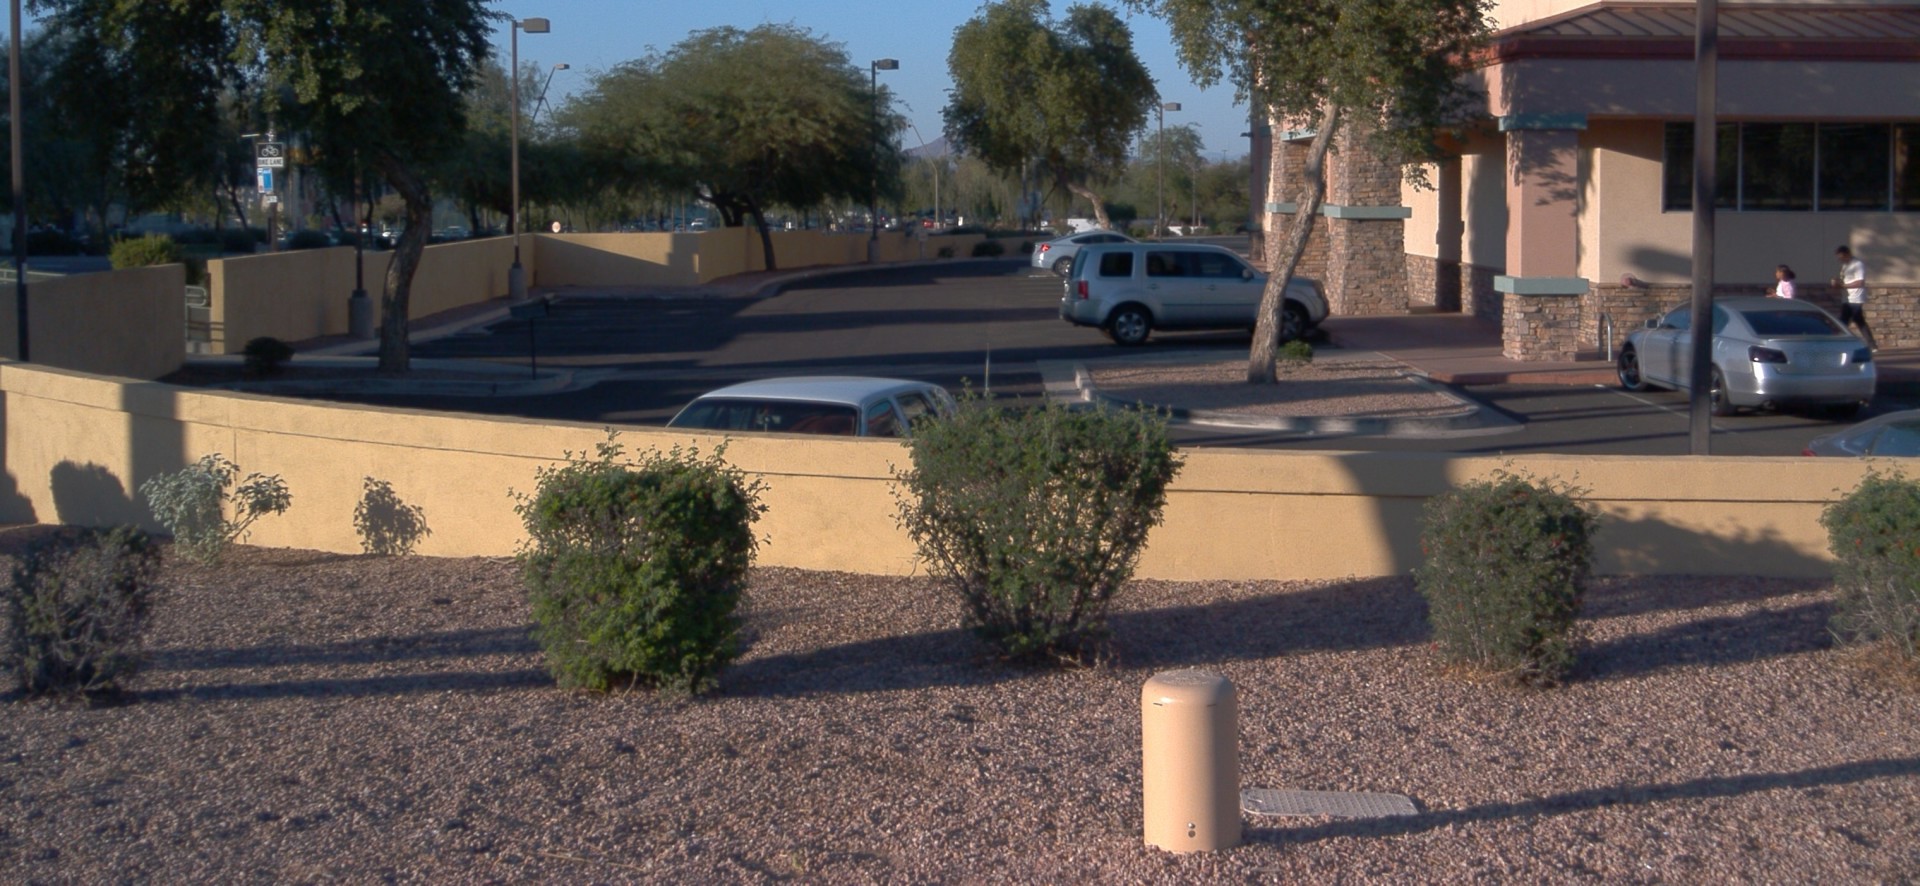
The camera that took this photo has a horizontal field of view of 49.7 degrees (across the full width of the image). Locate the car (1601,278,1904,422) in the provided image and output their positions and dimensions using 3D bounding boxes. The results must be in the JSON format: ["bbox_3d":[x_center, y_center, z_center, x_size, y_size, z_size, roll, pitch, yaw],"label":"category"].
[{"bbox_3d":[10.031,-1.283,26.696,1.912,1.573,4.738,0,5,-3],"label":"car"}]

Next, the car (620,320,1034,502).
[{"bbox_3d":[-0.931,-0.355,16.869,1.917,1.095,3.965,2,6,20],"label":"car"}]

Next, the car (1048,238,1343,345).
[{"bbox_3d":[4.188,-2.770,37.407,4.991,1.846,2.164,-1,4,-6],"label":"car"}]

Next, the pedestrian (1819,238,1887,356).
[{"bbox_3d":[13.922,-2.291,32.362,0.829,1.802,0.746,0,1,10],"label":"pedestrian"}]
